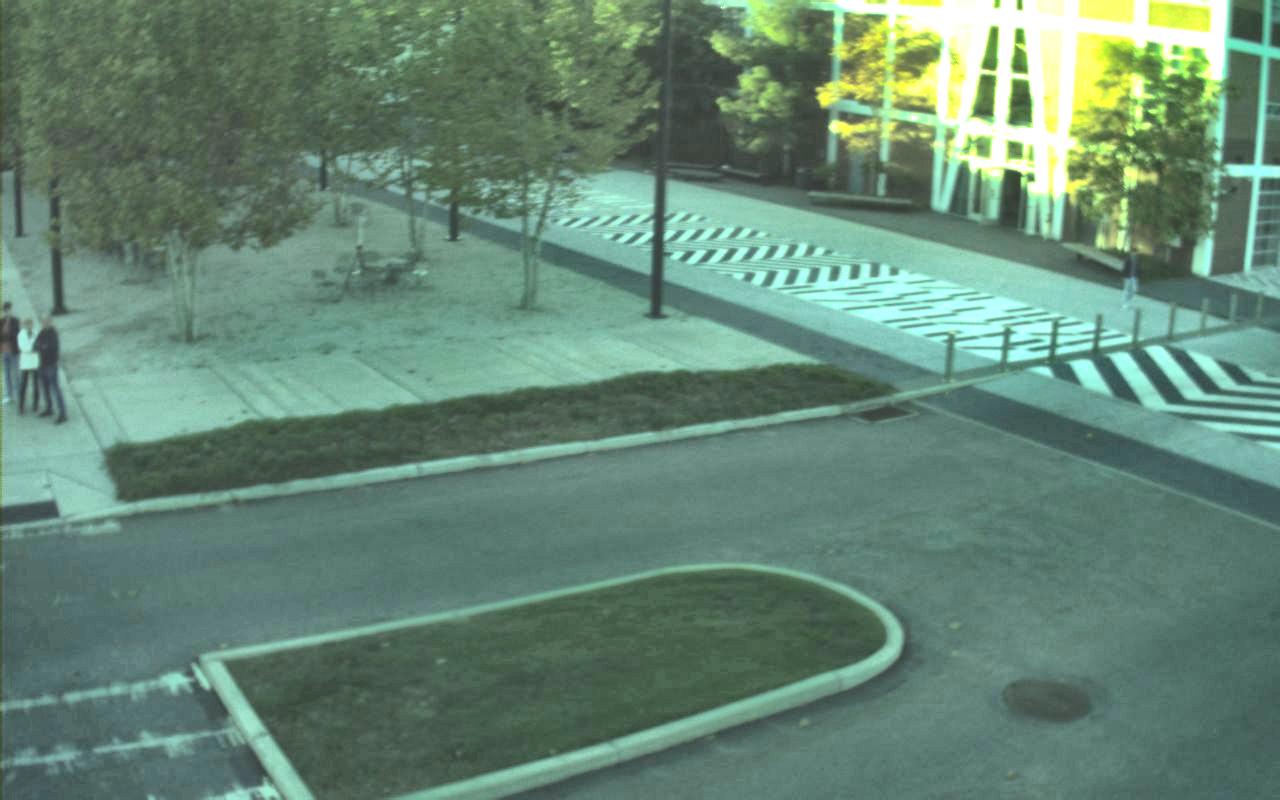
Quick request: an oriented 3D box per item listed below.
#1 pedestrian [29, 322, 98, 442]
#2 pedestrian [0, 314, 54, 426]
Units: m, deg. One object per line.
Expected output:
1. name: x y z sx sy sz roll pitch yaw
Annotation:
1. pedestrian: -9.935 -0.264 19.636 0.803 1.800 0.848 13 20 42
2. pedestrian: -11.169 -0.480 20.327 0.818 1.789 0.766 -13 19 -38
